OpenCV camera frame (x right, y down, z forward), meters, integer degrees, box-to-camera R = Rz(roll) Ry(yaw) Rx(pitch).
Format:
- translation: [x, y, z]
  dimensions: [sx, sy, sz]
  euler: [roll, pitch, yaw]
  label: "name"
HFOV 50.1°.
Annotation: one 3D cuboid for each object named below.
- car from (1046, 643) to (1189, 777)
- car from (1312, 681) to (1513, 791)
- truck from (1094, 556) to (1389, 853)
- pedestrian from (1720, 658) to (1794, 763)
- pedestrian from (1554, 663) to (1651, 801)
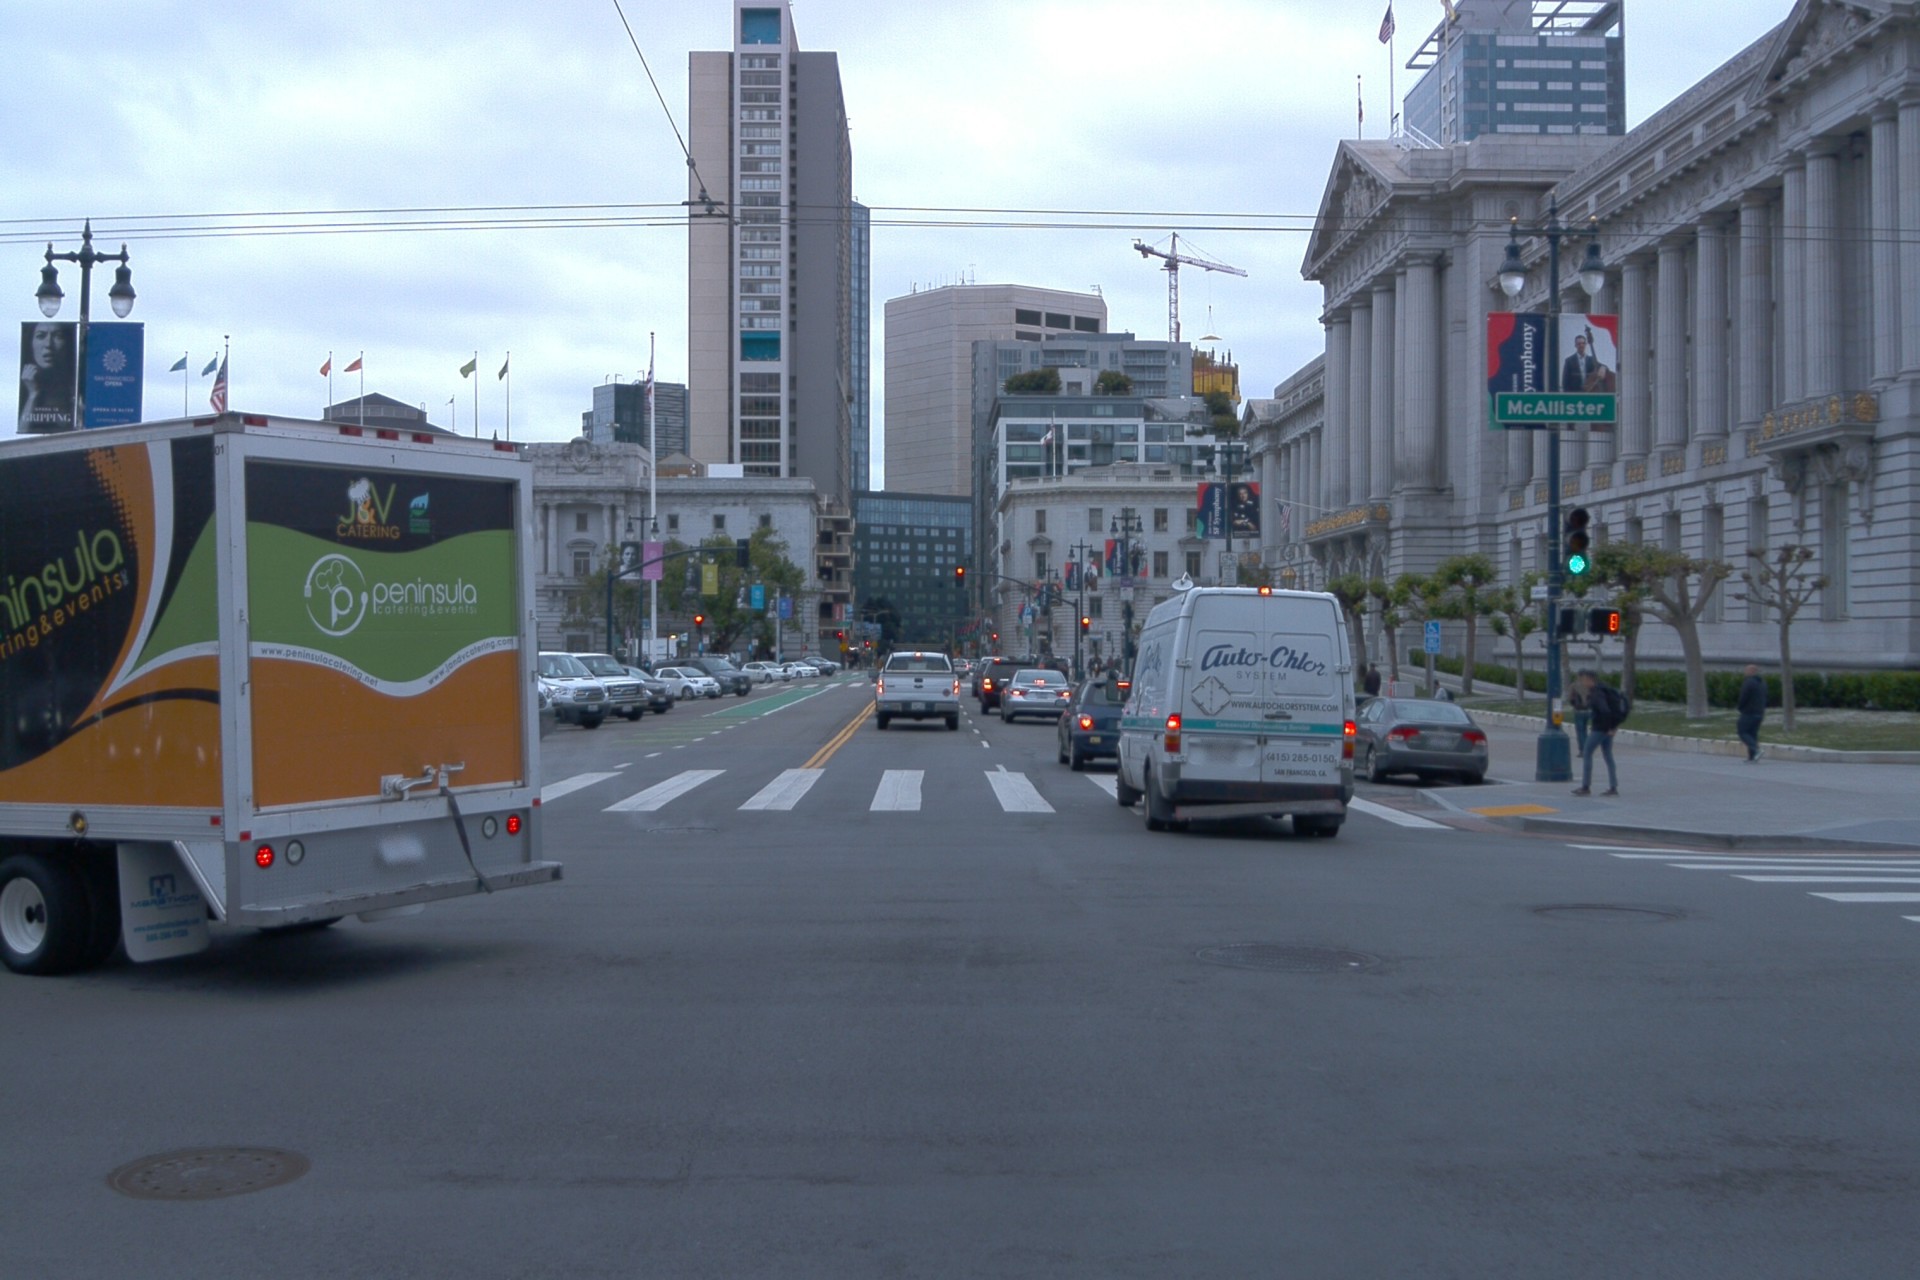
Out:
- translation: [2.518, 1.083, 33.687]
  dimensions: [1.934, 1.990, 4.032]
  euler: [0, 1, -1]
  label: "car"
- translation: [7.367, 1.530, 33.952]
  dimensions: [2.033, 1.512, 4.560]
  euler: [0, 1, -4]
  label: "car"
- translation: [2.918, 0.574, 22.931]
  dimensions: [2.404, 2.850, 6.222]
  euler: [0, 1, 0]
  label: "truck"
- translation: [13.849, 1.207, 35.738]
  dimensions: [0.757, 1.757, 0.920]
  euler: [-1, 1, -30]
  label: "pedestrian"
- translation: [8.562, 1.208, 27.395]
  dimensions: [0.827, 1.760, 0.939]
  euler: [-1, 1, -42]
  label: "pedestrian"
